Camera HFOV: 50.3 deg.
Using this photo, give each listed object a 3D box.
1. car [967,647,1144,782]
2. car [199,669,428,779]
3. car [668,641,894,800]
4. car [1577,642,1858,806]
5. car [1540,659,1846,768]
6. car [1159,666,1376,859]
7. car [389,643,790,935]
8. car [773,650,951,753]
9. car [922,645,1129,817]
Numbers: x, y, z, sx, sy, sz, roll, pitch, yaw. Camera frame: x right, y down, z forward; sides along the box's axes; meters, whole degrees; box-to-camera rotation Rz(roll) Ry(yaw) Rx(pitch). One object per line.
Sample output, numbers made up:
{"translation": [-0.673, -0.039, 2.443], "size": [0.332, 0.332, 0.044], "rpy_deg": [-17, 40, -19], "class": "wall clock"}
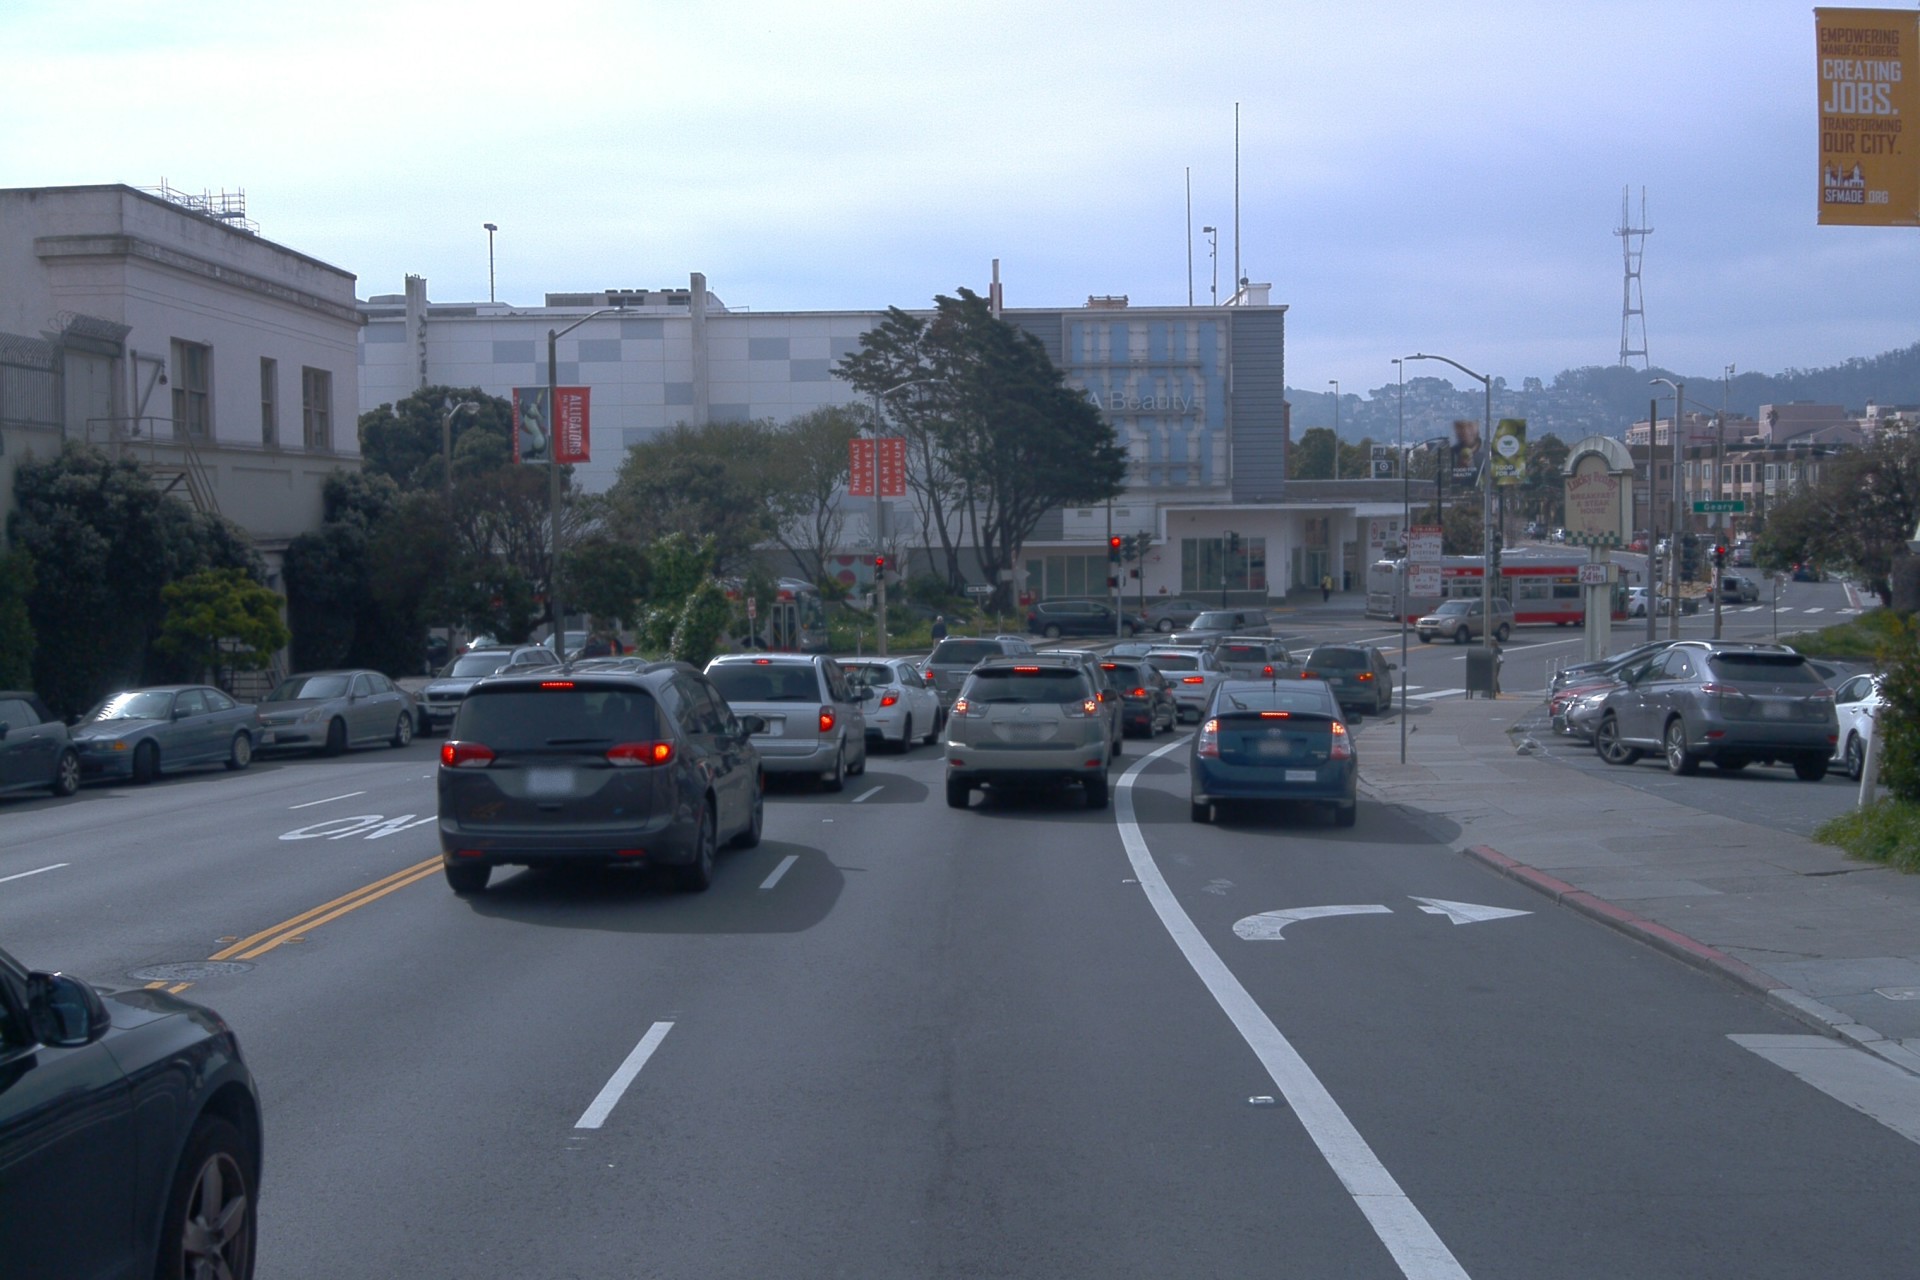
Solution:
{"translation": [1.552, 1.071, 31.436], "size": [2.120, 1.870, 4.391], "rpy_deg": [1, 0, 11], "class": "car"}
{"translation": [-11.015, 1.383, 35.222], "size": [2.018, 1.660, 4.691], "rpy_deg": [1, 0, 6], "class": "car"}
{"translation": [-2.198, 0.953, 26.474], "size": [2.131, 1.830, 4.635], "rpy_deg": [1, 0, 5], "class": "car"}
{"translation": [9.809, 1.015, 26.902], "size": [2.065, 1.920, 4.493], "rpy_deg": [1, 0, 1], "class": "car"}
{"translation": [11.307, 1.114, 31.730], "size": [4.019, 1.570, 1.975], "rpy_deg": [1, 0, 0], "class": "car"}
{"translation": [3.405, 1.238, 22.593], "size": [2.113, 1.790, 4.646], "rpy_deg": [1, 0, 9], "class": "car"}
{"translation": [-2.868, 1.071, 17.160], "size": [2.338, 2.030, 5.004], "rpy_deg": [1, 0, 1], "class": "car"}
{"translation": [-1.527, 0.951, 33.627], "size": [1.982, 1.530, 4.306], "rpy_deg": [1, 0, 10], "class": "car"}
{"translation": [0.822, 0.980, 24.110], "size": [2.197, 1.780, 4.467], "rpy_deg": [1, 0, 3], "class": "car"}
